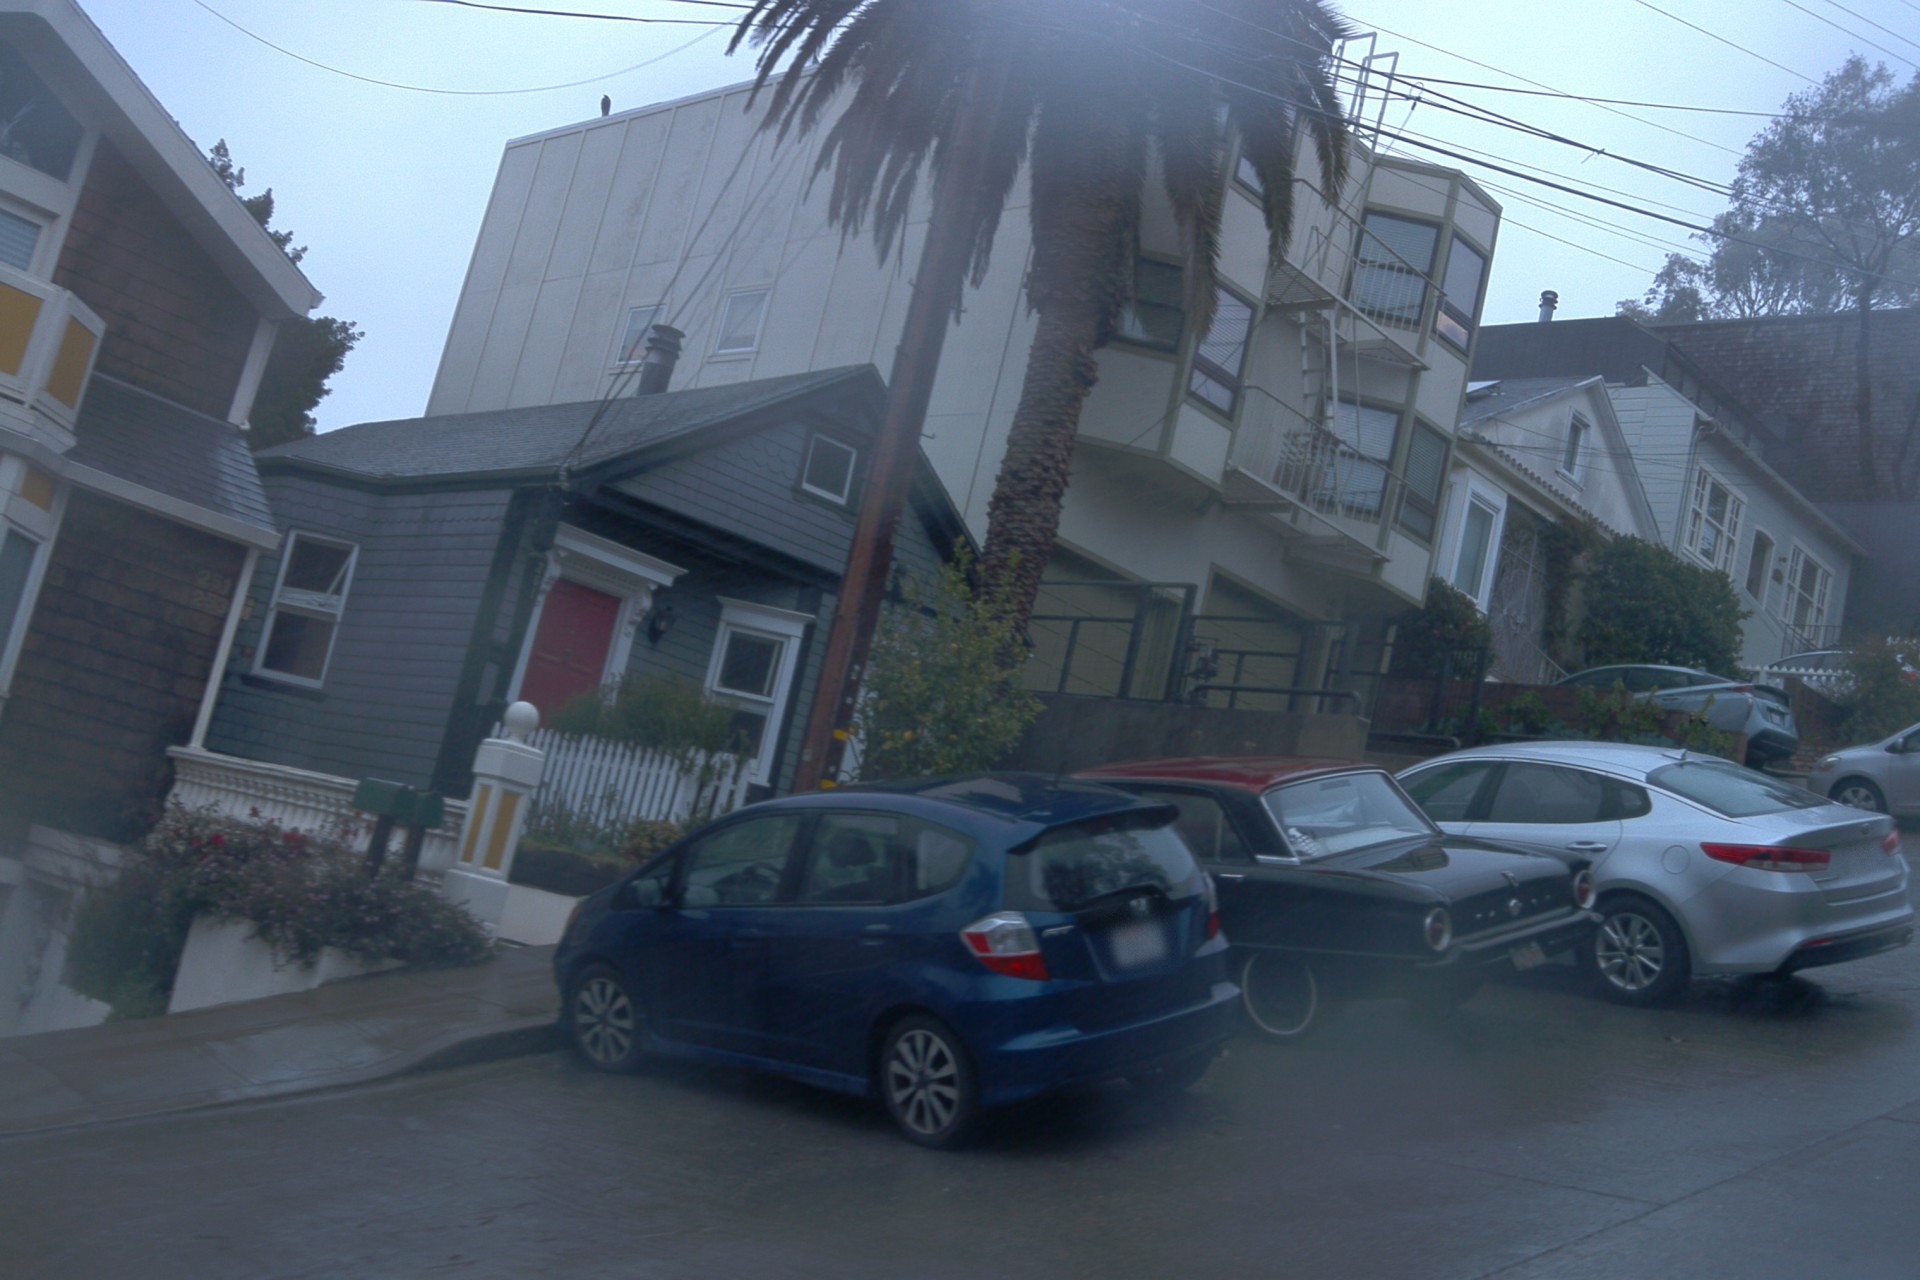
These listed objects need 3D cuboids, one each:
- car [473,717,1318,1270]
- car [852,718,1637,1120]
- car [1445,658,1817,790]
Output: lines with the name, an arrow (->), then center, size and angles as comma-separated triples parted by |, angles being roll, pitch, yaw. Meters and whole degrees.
car -> -0.451, 1.446, 10.133 | 2.119, 1.970, 3.826 | 0, 0, -43
car -> 1.511, 1.409, 12.037 | 4.134, 1.750, 1.985 | 0, 0, 44
car -> 9.305, 1.099, 28.956 | 4.454, 1.650, 2.111 | 0, 0, 44
